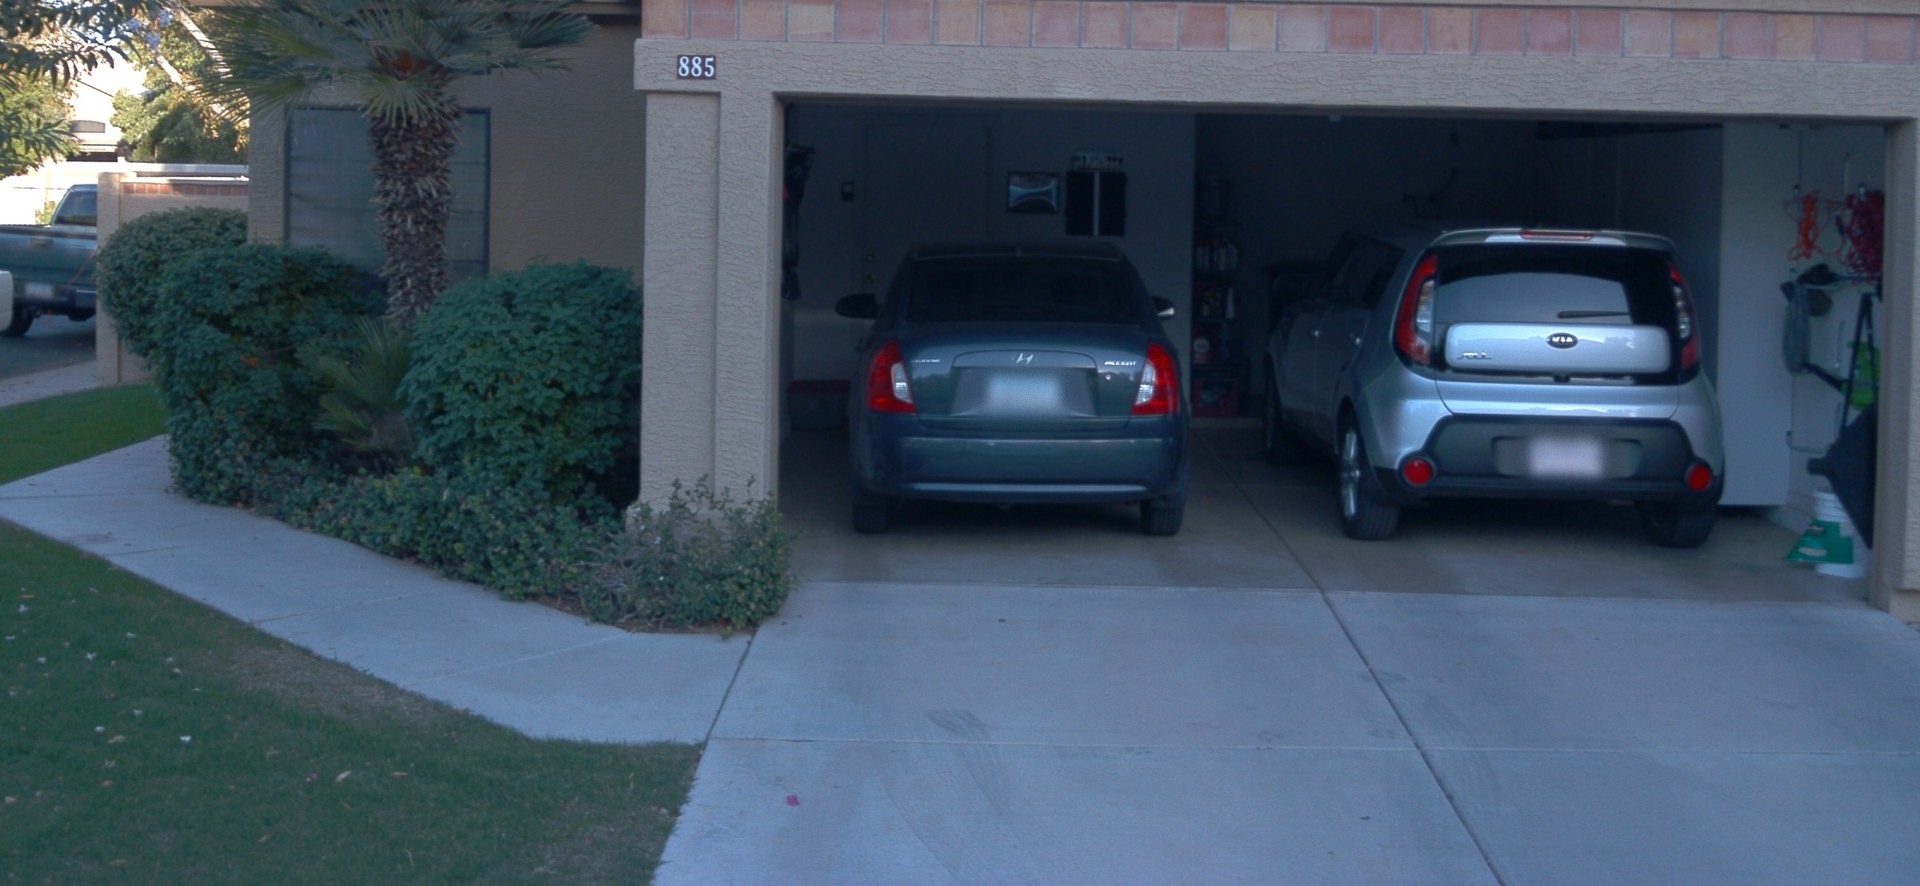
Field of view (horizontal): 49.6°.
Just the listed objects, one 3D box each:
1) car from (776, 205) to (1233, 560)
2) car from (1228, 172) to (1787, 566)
[{"bbox_3d":[0.220,-0.485,11.570,2.043,1.574,4.394,1,5,0],"label":"car"},{"bbox_3d":[2.806,-0.542,11.698,2.074,1.794,4.124,1,5,0],"label":"car"}]
